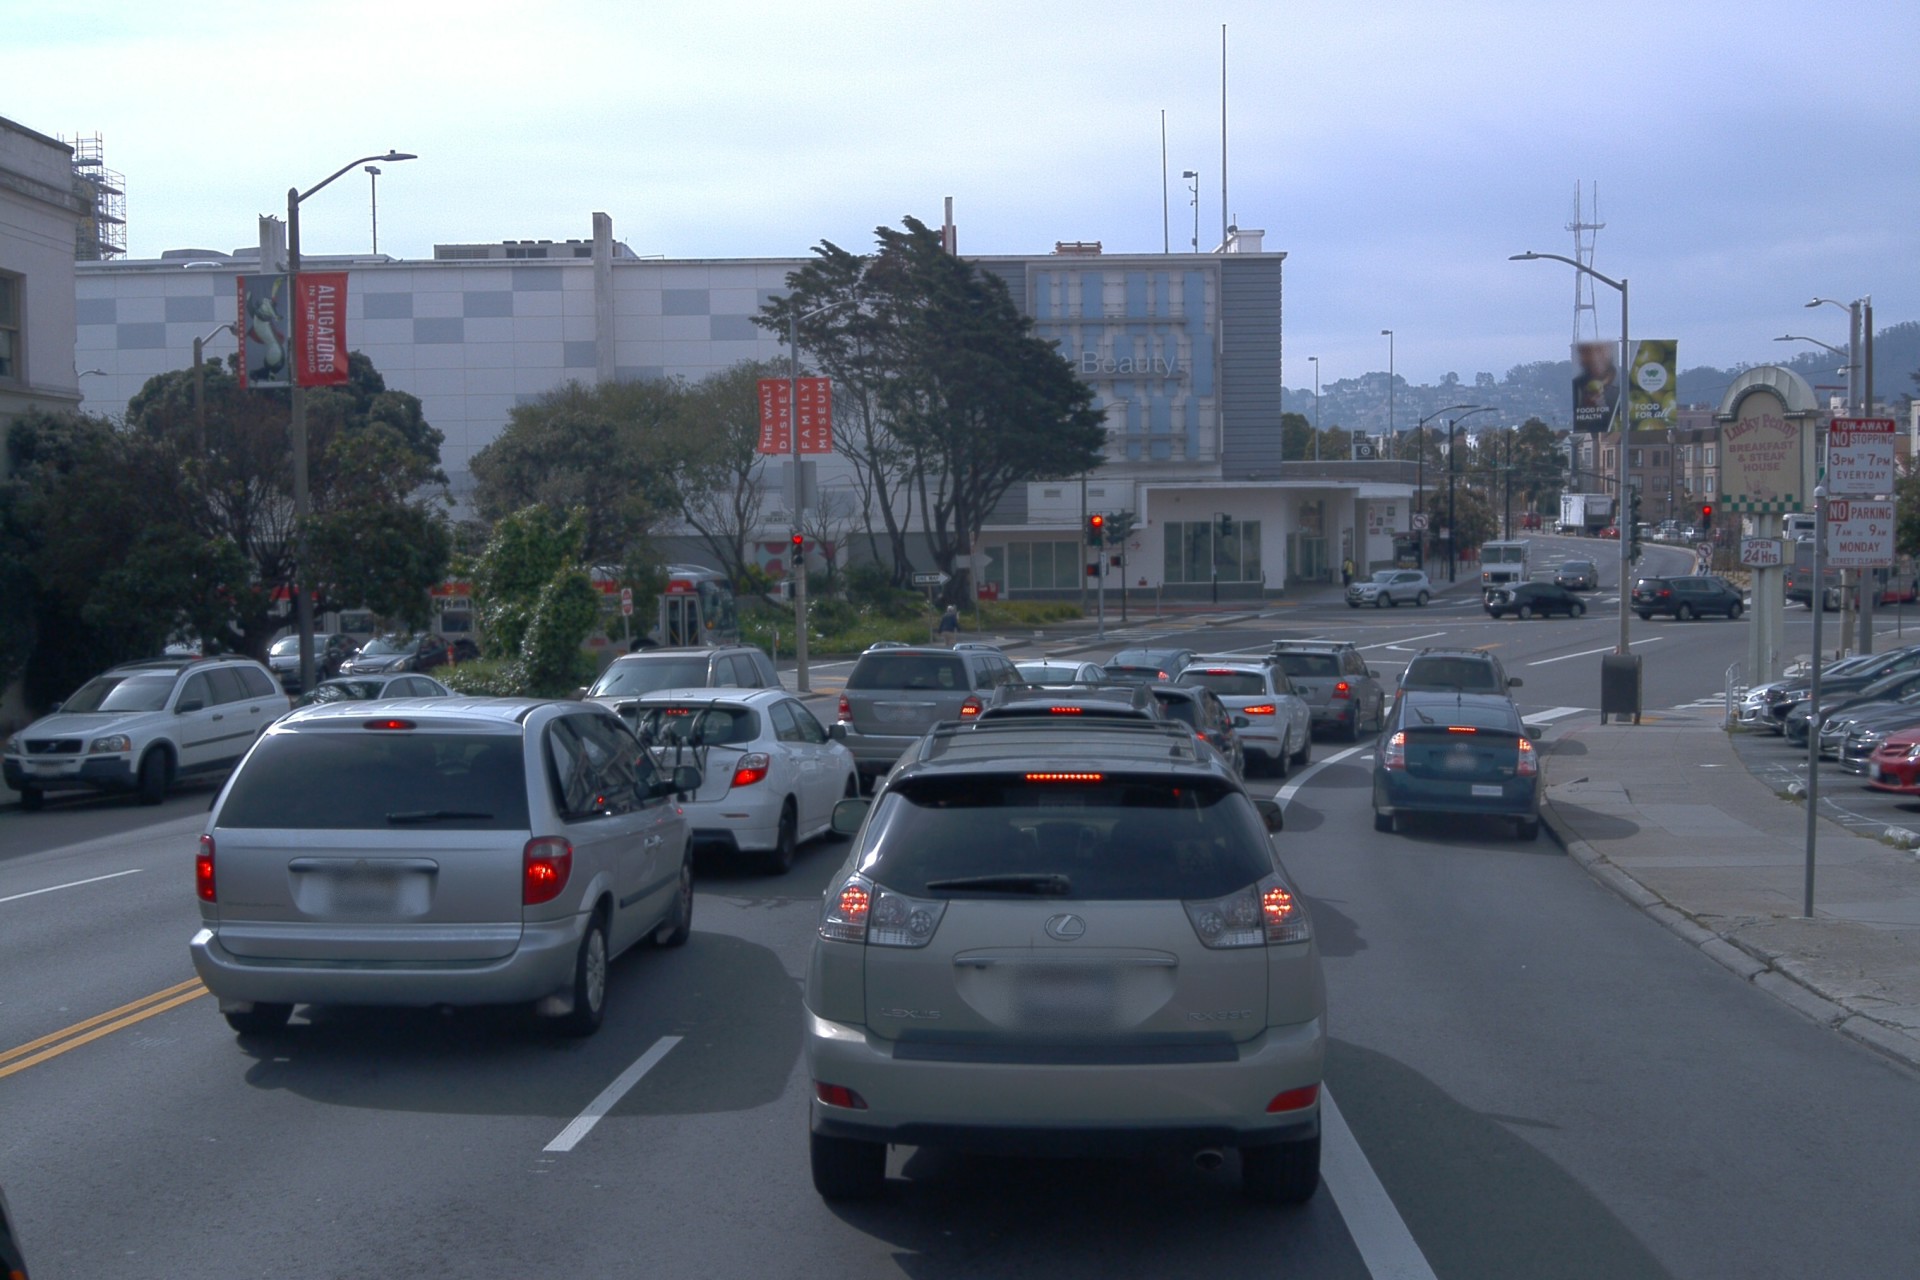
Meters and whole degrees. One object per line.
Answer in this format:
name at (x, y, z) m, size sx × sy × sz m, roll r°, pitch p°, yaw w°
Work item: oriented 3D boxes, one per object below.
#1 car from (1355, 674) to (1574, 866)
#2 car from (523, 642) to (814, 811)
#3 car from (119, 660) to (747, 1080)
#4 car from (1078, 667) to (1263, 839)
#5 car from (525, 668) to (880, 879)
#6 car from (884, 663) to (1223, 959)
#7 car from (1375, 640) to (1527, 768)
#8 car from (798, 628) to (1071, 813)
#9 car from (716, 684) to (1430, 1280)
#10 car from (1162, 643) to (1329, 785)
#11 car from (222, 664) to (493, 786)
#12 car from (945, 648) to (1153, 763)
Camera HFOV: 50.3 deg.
car at (5.506, 1.336, 22.855) m, size 2.113 × 1.790 × 4.646 m, roll 1°, pitch 0°, yaw 11°
car at (-3.665, 1.022, 26.728) m, size 2.245 × 1.960 × 4.666 m, roll 1°, pitch 0°, yaw 13°
car at (-2.673, 1.072, 11.702) m, size 2.131 × 1.830 × 4.635 m, roll 1°, pitch 0°, yaw 4°
car at (2.560, 1.246, 24.128) m, size 1.526 × 1.780 × 3.939 m, roll 1°, pitch 0°, yaw 15°
car at (-2.108, 1.065, 18.113) m, size 1.982 × 1.530 × 4.306 m, roll 1°, pitch 0°, yaw 9°
car at (0.891, 1.161, 15.890) m, size 2.119 × 1.870 × 4.391 m, roll 1°, pitch 0°, yaw 9°
car at (8.594, 1.030, 35.490) m, size 2.203 × 2.020 × 4.801 m, roll 1°, pitch 0°, yaw 18°
car at (-0.192, 0.912, 25.951) m, size 2.236 × 2.100 × 4.827 m, roll 1°, pitch 0°, yaw 15°
car at (0.415, 1.145, 8.575) m, size 2.197 × 1.780 × 4.467 m, roll 1°, pitch 0°, yaw 2°
car at (4.217, 0.999, 29.690) m, size 1.795 × 1.880 × 4.044 m, roll 1°, pitch 0°, yaw 17°
car at (-9.202, 1.245, 31.671) m, size 1.977 × 1.640 × 4.663 m, roll 1°, pitch 0°, yaw 13°
car at (1.538, 0.991, 33.179) m, size 2.220 × 1.670 × 4.643 m, roll 1°, pitch 0°, yaw 18°
